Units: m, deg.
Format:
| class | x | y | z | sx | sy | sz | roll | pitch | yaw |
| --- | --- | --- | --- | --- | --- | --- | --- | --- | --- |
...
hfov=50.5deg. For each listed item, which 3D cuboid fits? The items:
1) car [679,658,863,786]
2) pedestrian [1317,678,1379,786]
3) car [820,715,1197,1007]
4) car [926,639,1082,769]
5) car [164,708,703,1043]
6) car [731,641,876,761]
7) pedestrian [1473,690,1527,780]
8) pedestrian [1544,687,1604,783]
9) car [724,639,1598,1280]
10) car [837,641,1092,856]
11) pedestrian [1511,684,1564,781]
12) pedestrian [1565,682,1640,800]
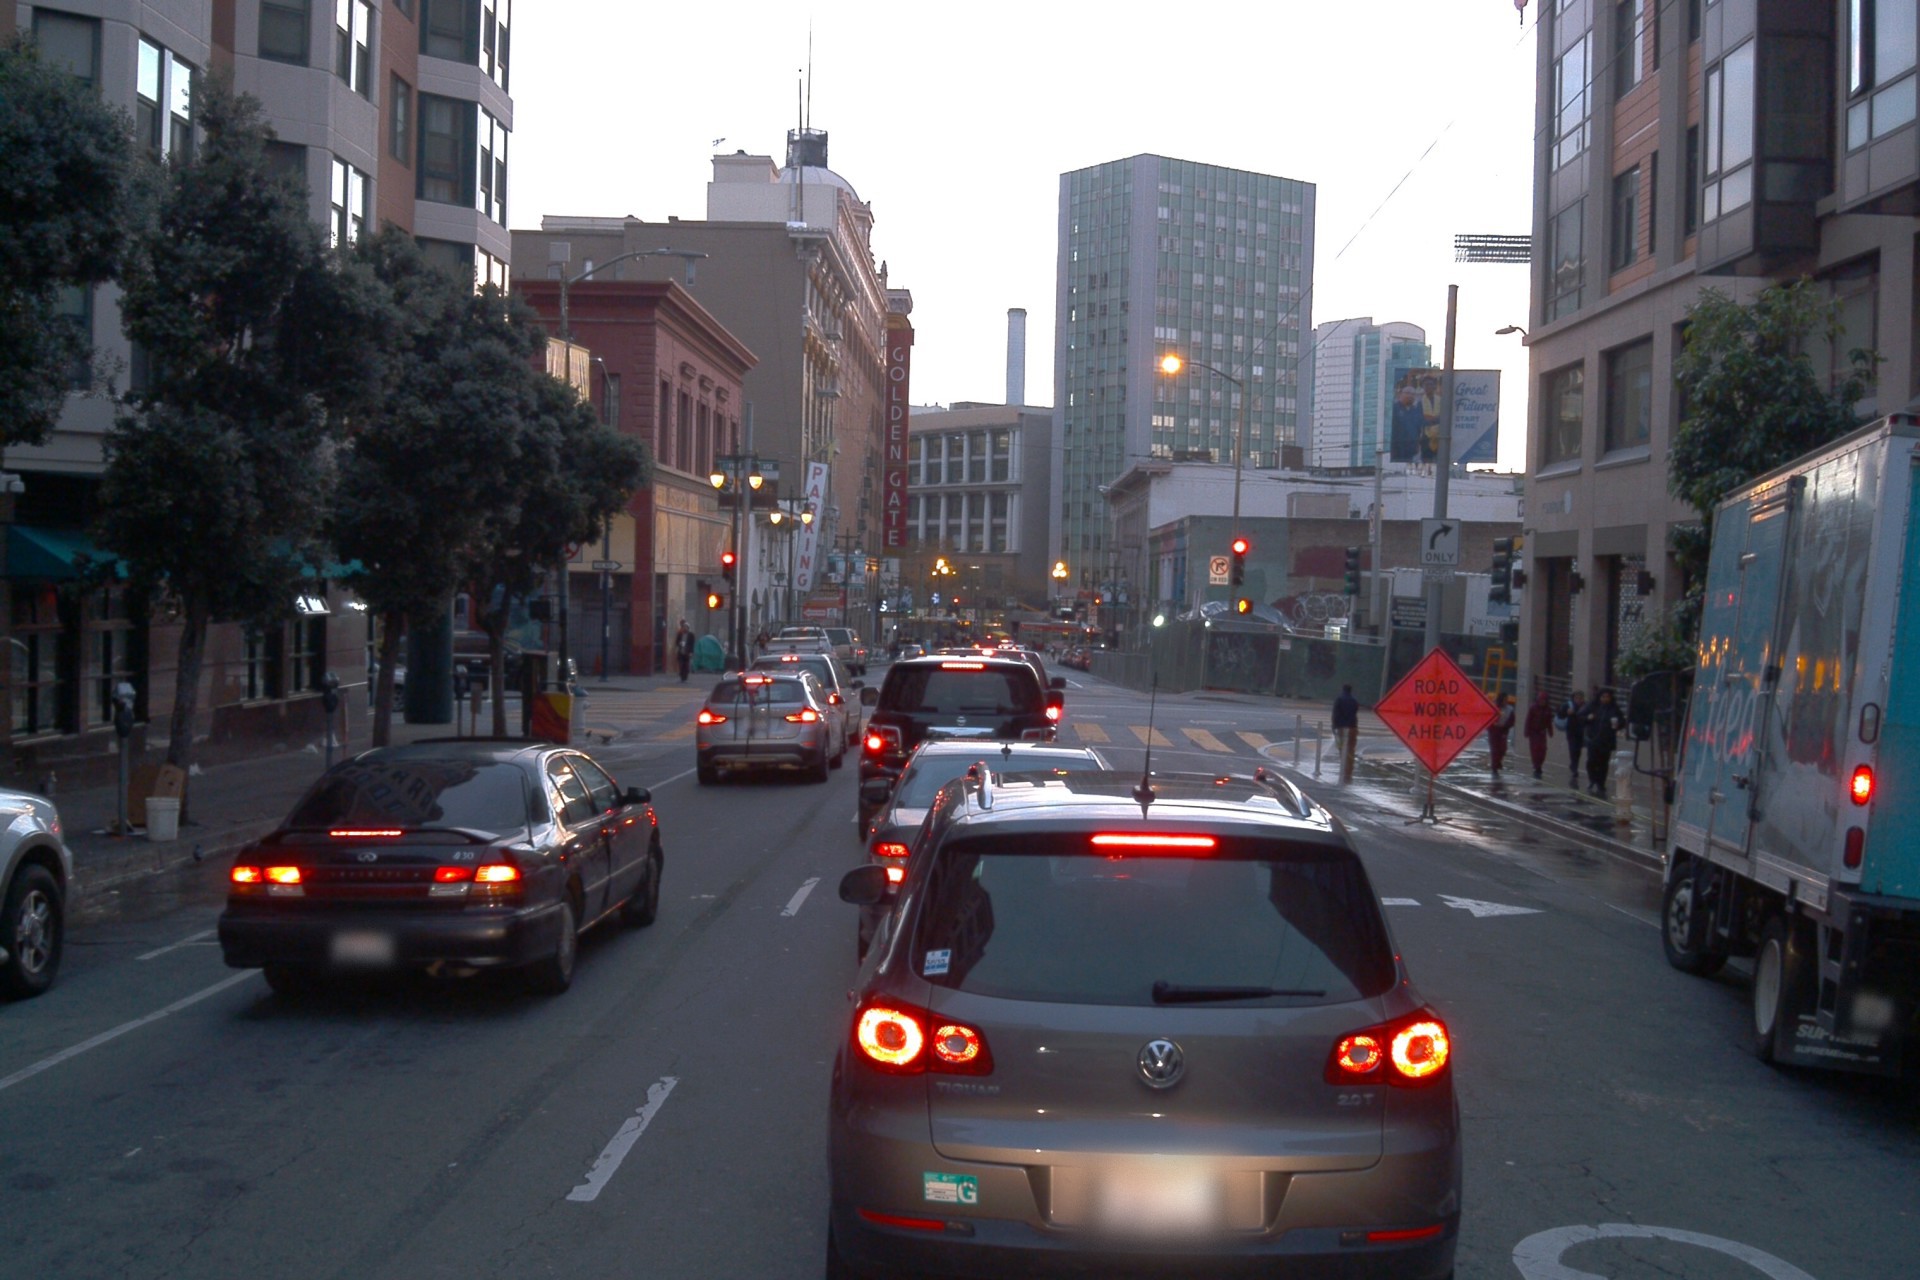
| class | x | y | z | sx | sy | sz | roll | pitch | yaw |
| --- | --- | --- | --- | --- | --- | --- | --- | --- | --- |
| car | -2.613 | 1.107 | 29.110 | 2.110 | 1.572 | 4.118 | 1 | 1 | 1 |
| pedestrian | 6.682 | 1.573 | 35.103 | 0.776 | 1.790 | 0.924 | 1 | 1 | -6 |
| car | 0.292 | 1.323 | 13.592 | 2.089 | 1.400 | 4.279 | 1 | 1 | 1 |
| car | 0.622 | 0.853 | 29.391 | 2.036 | 1.650 | 4.678 | 1 | 1 | 1 |
| car | -3.055 | 1.306 | 13.021 | 2.036 | 1.500 | 4.826 | 1 | 0 | 2 |
| car | -2.657 | 0.994 | 35.547 | 1.896 | 1.880 | 4.462 | 1 | 1 | 4 |
| pedestrian | 9.256 | 1.617 | 34.919 | 0.668 | 1.490 | 0.838 | 1 | 1 | 2 |
| pedestrian | 10.586 | 1.629 | 35.107 | 0.721 | 1.610 | 0.846 | 1 | 1 | -1 |
| car | 0.546 | 1.060 | 7.023 | 2.109 | 2.050 | 3.981 | 1 | 1 | 2 |
| car | 0.036 | 1.027 | 21.904 | 2.368 | 1.940 | 5.339 | 1 | 1 | 0 |
| pedestrian | 9.901 | 1.577 | 34.926 | 0.622 | 1.610 | 0.759 | 1 | 1 | -2 |
| pedestrian | 9.960 | 1.561 | 31.601 | 0.879 | 1.760 | 0.905 | 1 | 1 | 4 |
